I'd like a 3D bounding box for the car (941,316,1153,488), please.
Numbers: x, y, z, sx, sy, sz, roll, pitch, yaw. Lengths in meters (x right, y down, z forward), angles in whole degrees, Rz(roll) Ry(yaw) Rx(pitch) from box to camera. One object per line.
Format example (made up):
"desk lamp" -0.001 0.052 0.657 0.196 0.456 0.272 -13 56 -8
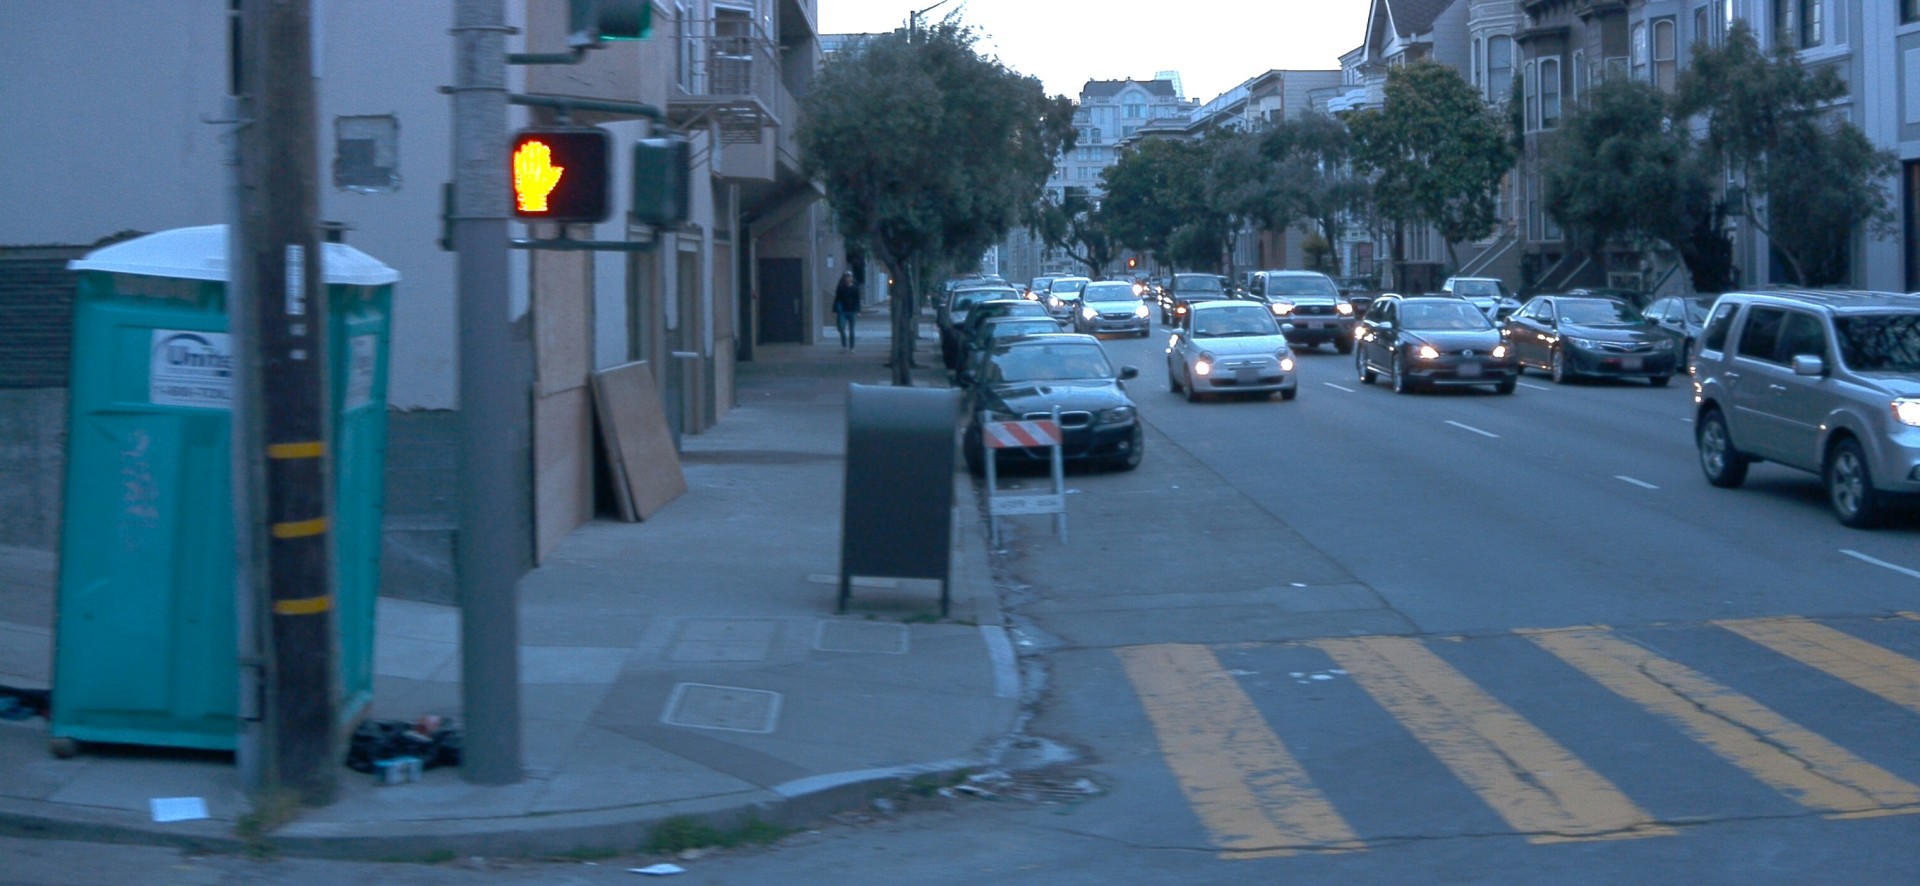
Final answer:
"car" 0.865 -0.558 23.202 2.030 1.492 4.515 1 6 -2

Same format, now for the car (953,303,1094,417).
"car" 0.909 -1.337 31.676 1.863 1.422 4.270 1 6 -2

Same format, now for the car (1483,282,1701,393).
"car" 10.519 -1.840 34.627 2.120 1.552 4.647 1 6 -1

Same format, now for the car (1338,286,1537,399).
"car" 7.424 -1.637 32.428 2.069 1.462 4.411 1 6 -1

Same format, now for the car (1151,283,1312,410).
"car" 4.091 -1.533 31.558 1.953 1.692 3.529 1 5 -1
